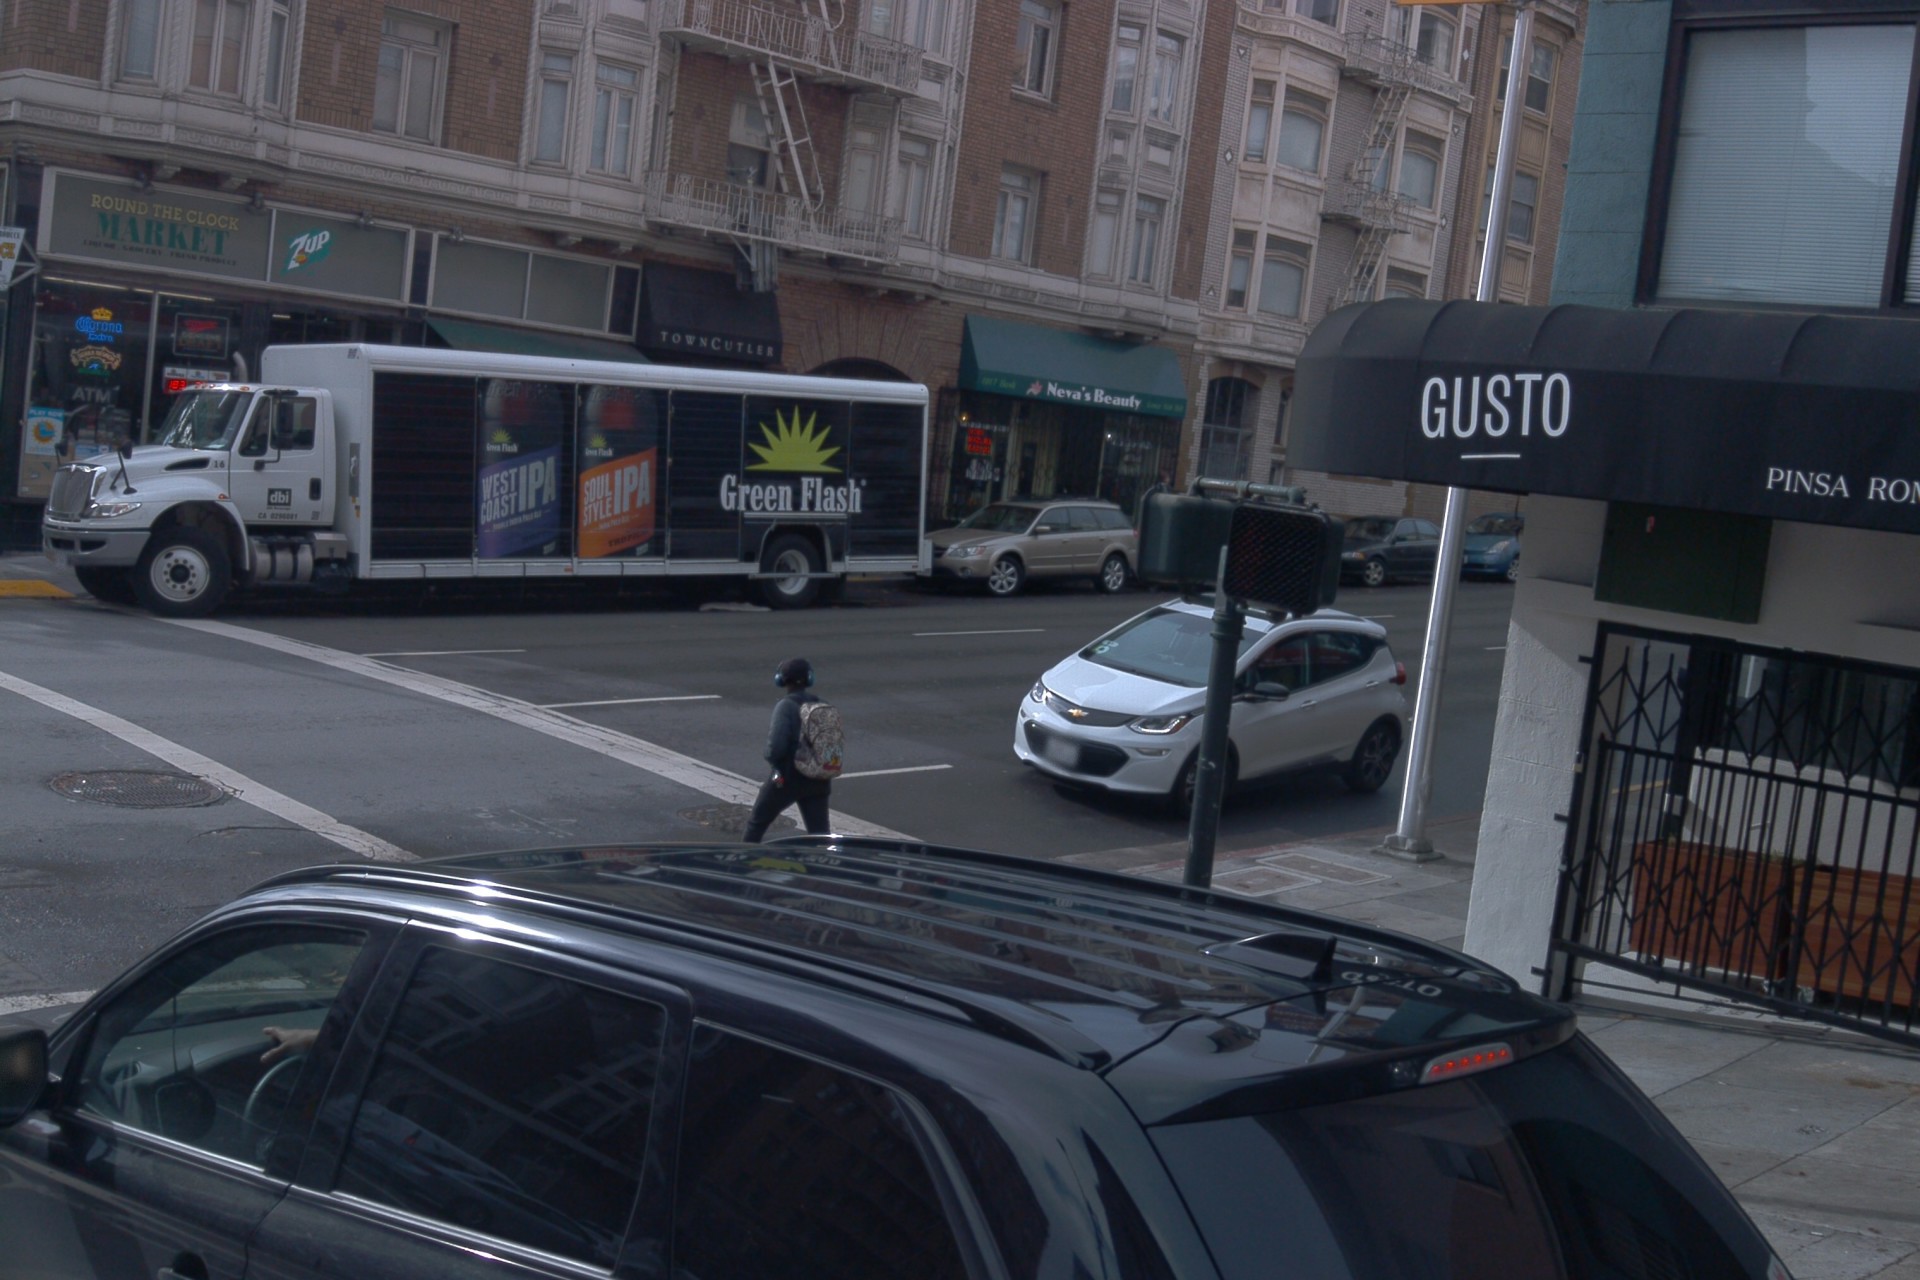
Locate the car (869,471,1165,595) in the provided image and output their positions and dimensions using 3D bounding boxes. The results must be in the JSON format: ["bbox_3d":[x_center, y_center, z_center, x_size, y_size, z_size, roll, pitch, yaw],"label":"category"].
[{"bbox_3d":[1.008,-1.679,33.638,2.182,1.770,4.833,2,1,42],"label":"car"}]

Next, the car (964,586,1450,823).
[{"bbox_3d":[2.242,0.476,17.843,2.062,1.780,4.279,2,1,42],"label":"car"}]

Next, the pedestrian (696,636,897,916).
[{"bbox_3d":[-0.984,0.781,12.390,0.929,1.590,0.750,2,1,43],"label":"pedestrian"}]
